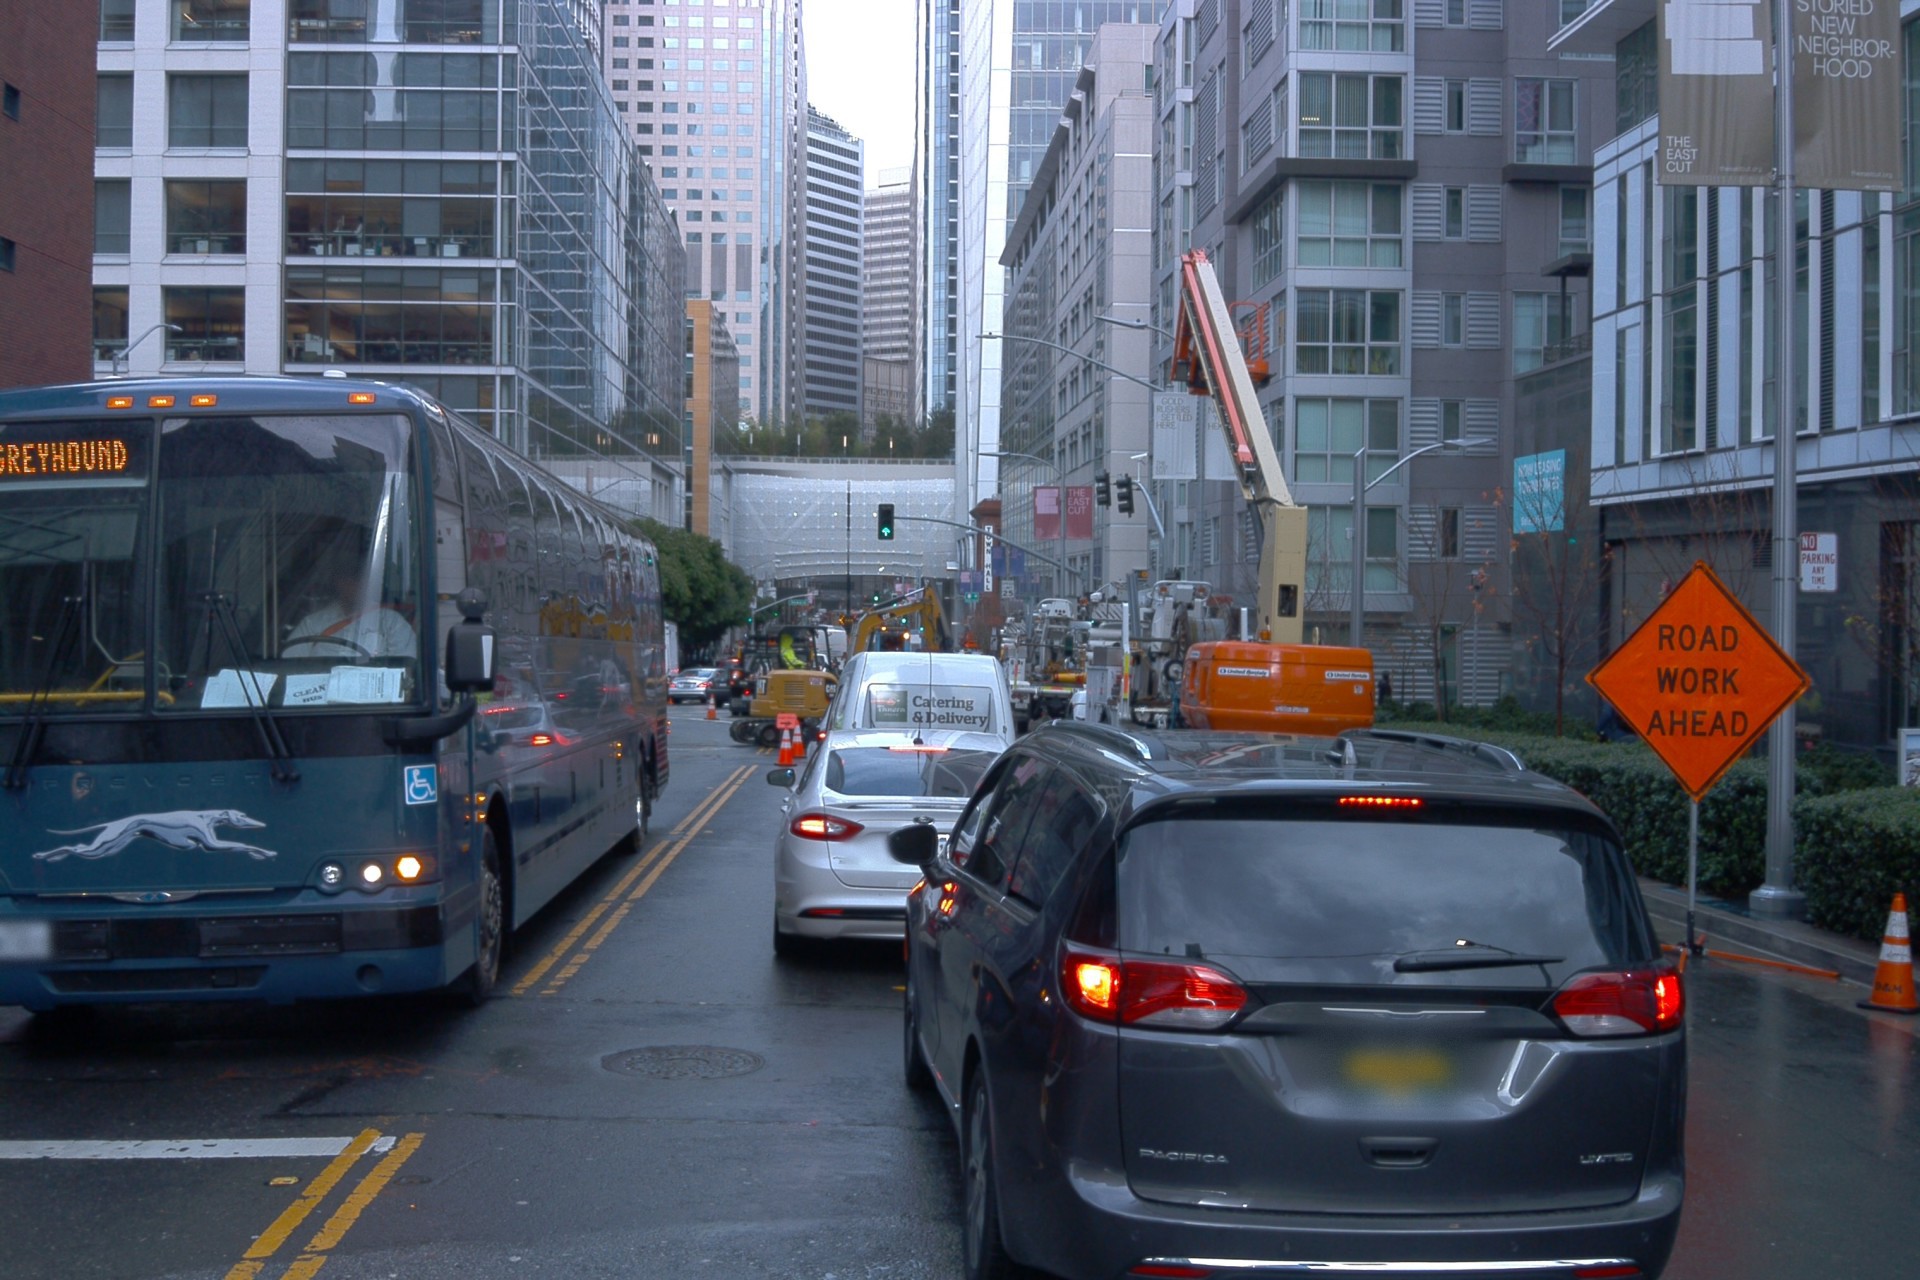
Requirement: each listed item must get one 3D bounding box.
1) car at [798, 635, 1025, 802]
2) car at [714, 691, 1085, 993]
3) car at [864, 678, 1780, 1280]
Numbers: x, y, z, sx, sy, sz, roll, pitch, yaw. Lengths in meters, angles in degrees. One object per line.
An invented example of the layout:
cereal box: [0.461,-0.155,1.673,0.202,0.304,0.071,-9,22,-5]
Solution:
car: [-0.563,0.706,20.251,1.860,1.470,3.431,1,1,-7]
car: [-0.418,1.250,14.550,2.164,1.580,4.901,1,1,-1]
car: [0.818,1.096,7.558,2.058,1.750,4.787,1,1,-6]
